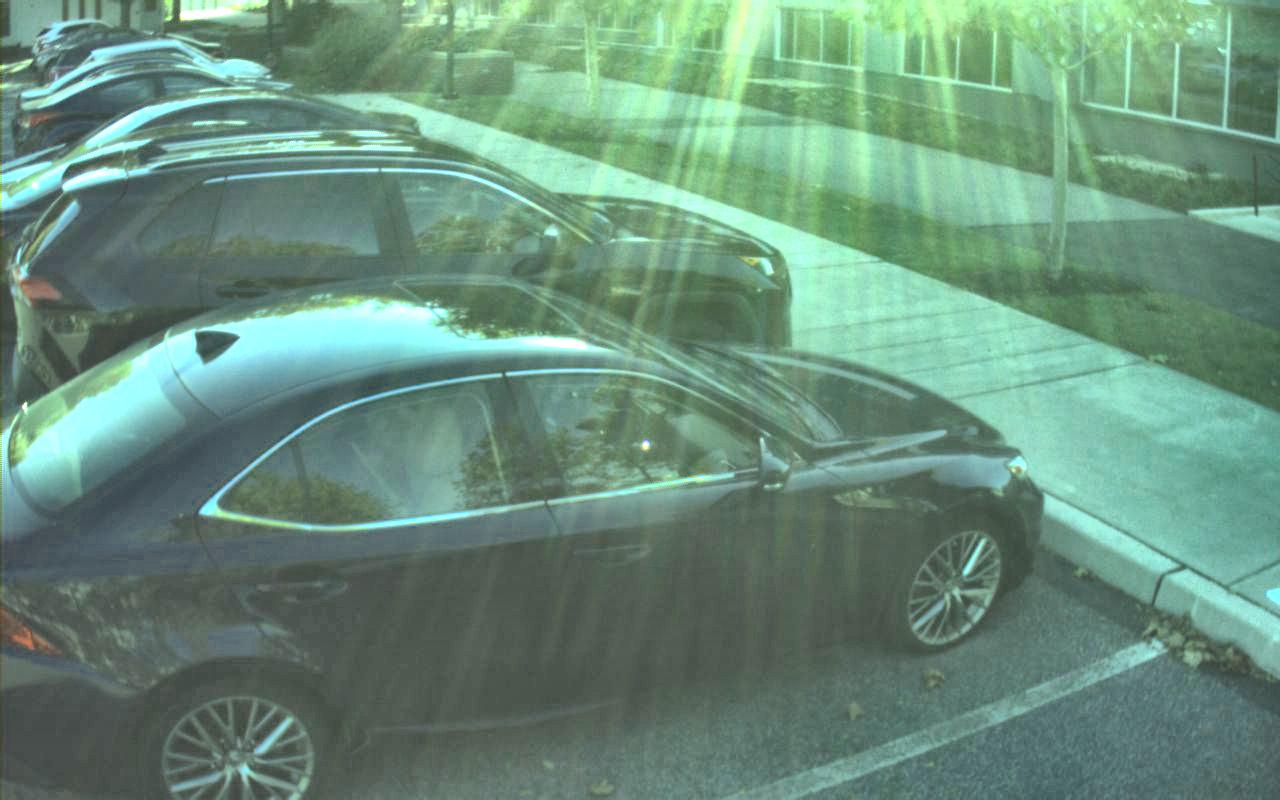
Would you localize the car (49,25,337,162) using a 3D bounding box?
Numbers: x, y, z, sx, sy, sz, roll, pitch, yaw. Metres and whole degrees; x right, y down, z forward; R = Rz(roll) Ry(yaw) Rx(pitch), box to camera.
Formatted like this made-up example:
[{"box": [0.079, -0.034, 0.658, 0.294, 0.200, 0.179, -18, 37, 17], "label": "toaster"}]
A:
[{"box": [-6.997, -4.744, 17.925, 4.447, 1.595, 1.971, -9, 18, -25], "label": "car"}]

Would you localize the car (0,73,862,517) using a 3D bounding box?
[{"box": [-1.326, -0.823, 6.788, 4.711, 1.679, 2.008, -9, 18, -24], "label": "car"}]

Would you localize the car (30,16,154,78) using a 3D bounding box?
[{"box": [-19.421, -12.312, 39.369, 4.555, 1.650, 1.982, -10, 19, -29], "label": "car"}]

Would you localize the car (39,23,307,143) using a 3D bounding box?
[{"box": [-8.211, -5.507, 20.156, 4.502, 1.617, 1.992, 1, 16, 5], "label": "car"}]

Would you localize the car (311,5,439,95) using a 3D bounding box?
[{"box": [-5.722, -7.695, 26.443, 2.012, 1.726, 4.580, -1, 17, -1], "label": "car"}]

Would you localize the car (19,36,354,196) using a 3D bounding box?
[{"box": [-6.160, -3.825, 15.494, 4.472, 1.575, 1.960, -10, 18, -27], "label": "car"}]
